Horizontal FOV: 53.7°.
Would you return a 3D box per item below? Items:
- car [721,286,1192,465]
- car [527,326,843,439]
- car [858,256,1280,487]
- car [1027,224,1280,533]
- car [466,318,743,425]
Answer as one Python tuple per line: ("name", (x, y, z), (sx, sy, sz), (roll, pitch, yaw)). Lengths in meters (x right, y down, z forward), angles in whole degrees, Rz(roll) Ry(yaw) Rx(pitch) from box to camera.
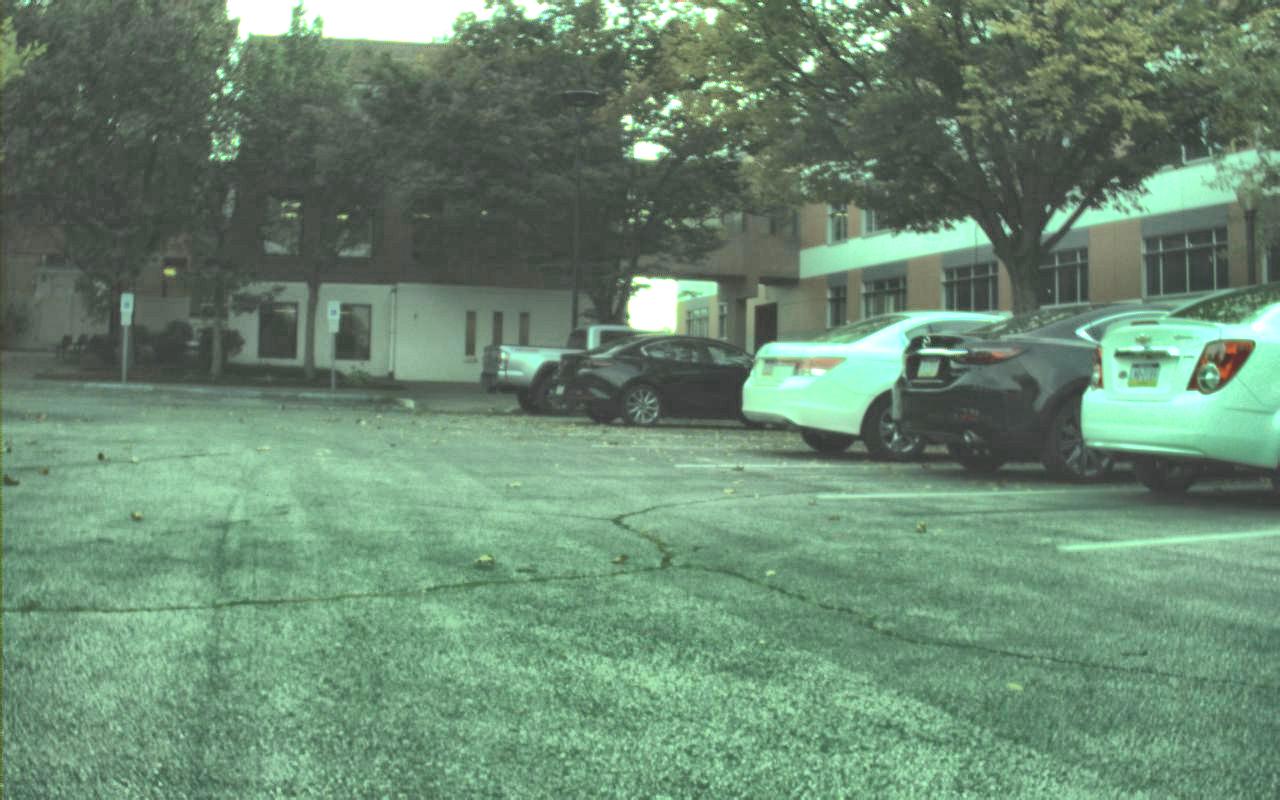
("car", (3.256, -0.235, 12.409), (4.543, 1.562, 1.933), (0, 1, -13))
("car", (0.735, -0.281, 19.819), (4.613, 1.602, 1.963), (0, 1, -26))
("car", (4.220, -0.213, 9.997), (4.475, 1.593, 1.935), (0, 1, -16))
("car", (5.009, -0.124, 7.775), (4.471, 1.687, 1.949), (0, 1, -15))
("car", (-0.734, -0.542, 24.577), (5.030, 1.946, 2.113), (0, 1, -18))
